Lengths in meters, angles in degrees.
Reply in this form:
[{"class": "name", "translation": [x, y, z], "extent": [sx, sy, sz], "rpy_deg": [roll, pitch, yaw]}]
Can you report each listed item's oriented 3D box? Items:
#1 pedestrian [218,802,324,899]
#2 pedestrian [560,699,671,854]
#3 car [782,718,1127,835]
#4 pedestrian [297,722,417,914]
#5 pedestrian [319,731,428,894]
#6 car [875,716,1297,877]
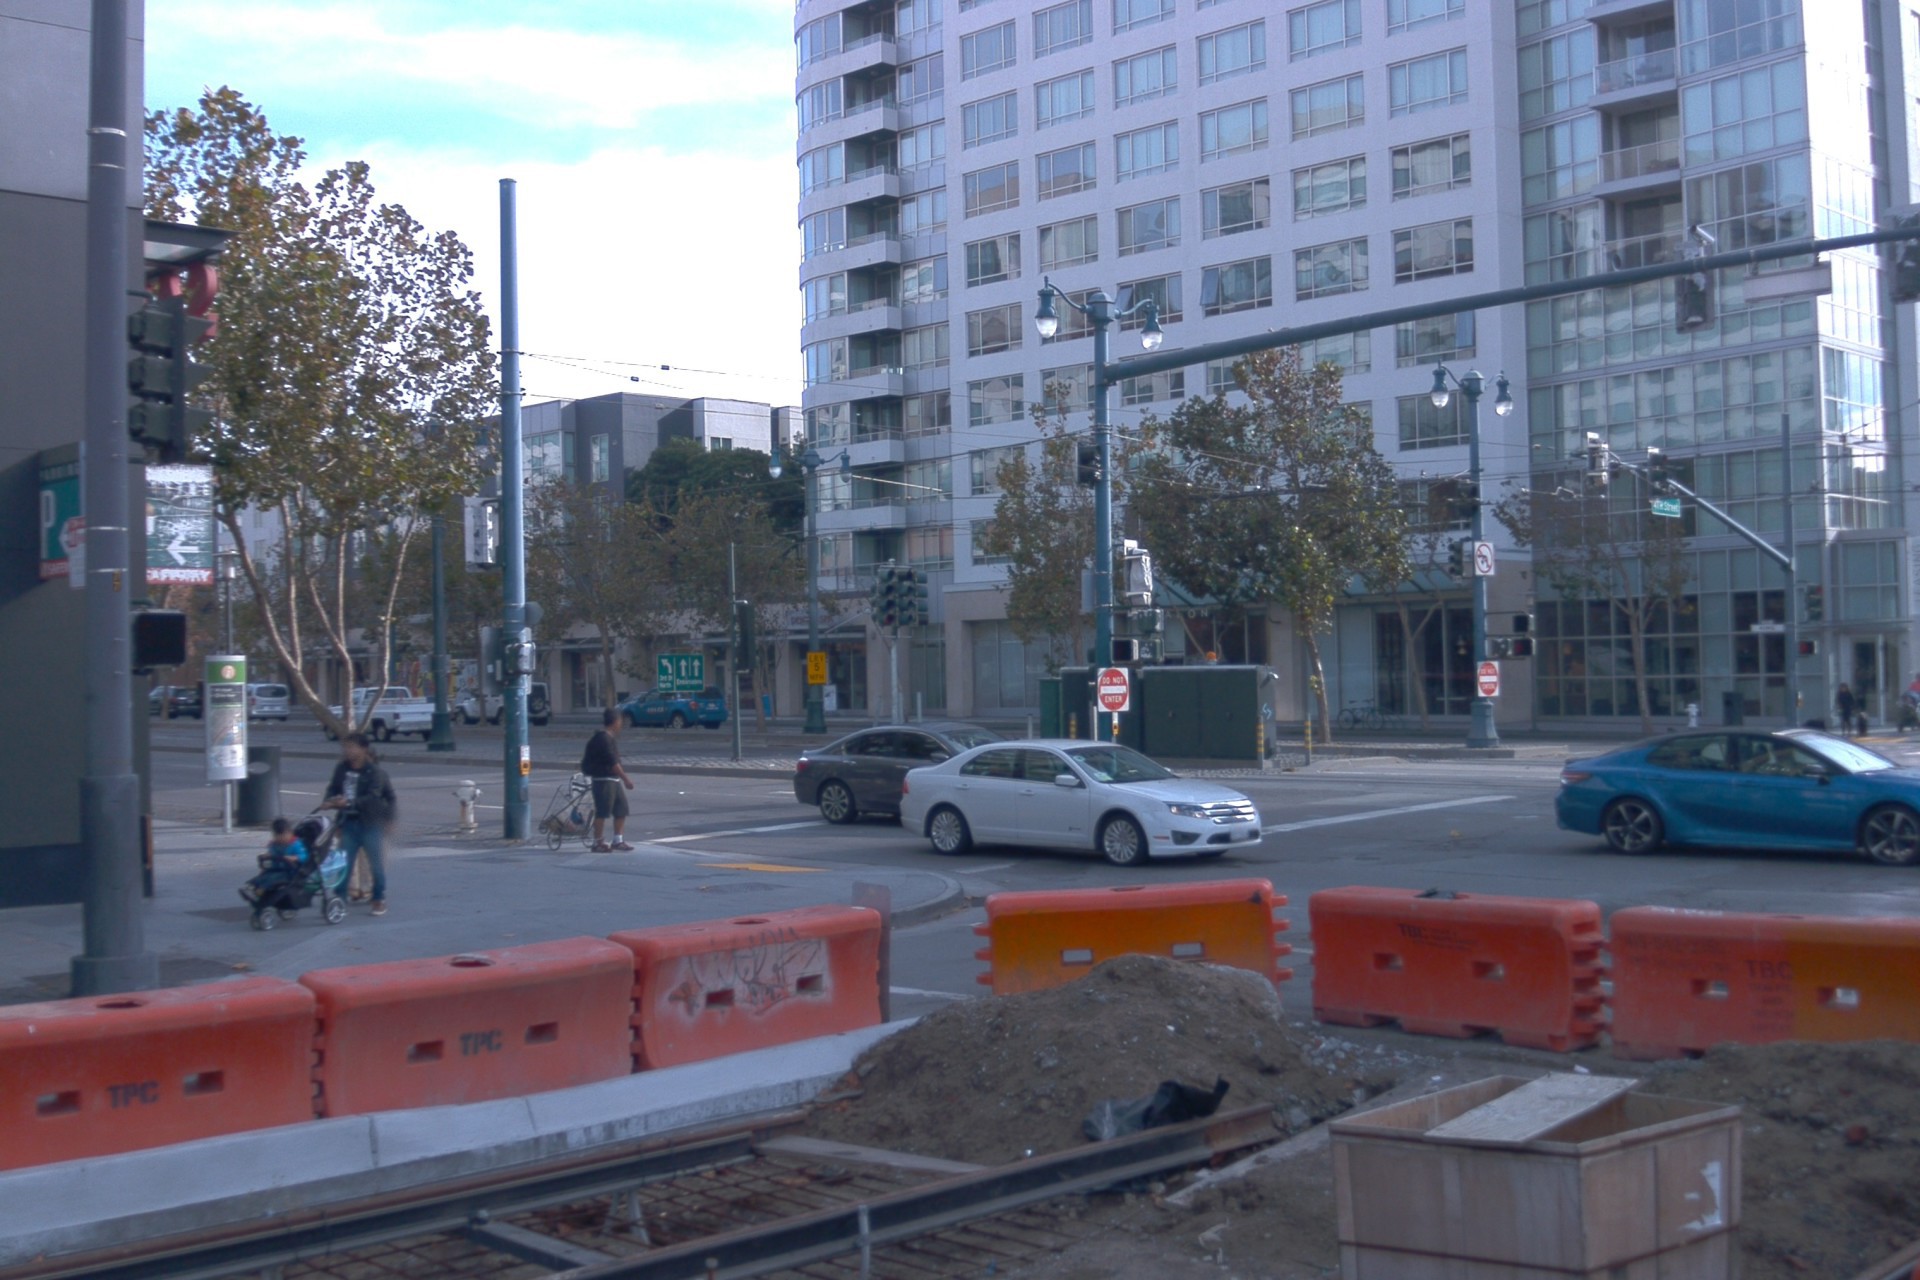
[{"class": "pedestrian", "translation": [-5.936, 1.805, 17.910], "extent": [0.485, 0.752, 0.722], "rpy_deg": [0, -1, 29]}, {"class": "pedestrian", "translation": [-4.235, 1.658, 25.573], "extent": [0.941, 1.830, 0.982], "rpy_deg": [0, -1, 28]}, {"class": "car", "translation": [-0.142, 1.934, 30.380], "extent": [4.851, 1.427, 2.015], "rpy_deg": [0, -1, 39]}, {"class": "pedestrian", "translation": [-5.478, 1.596, 18.892], "extent": [0.747, 1.660, 0.768], "rpy_deg": [0, -1, 15]}, {"class": "pedestrian", "translation": [-5.548, 1.614, 19.655], "extent": [0.664, 1.460, 0.719], "rpy_deg": [0, -1, 35]}, {"class": "car", "translation": [1.445, 1.818, 25.348], "extent": [4.934, 1.610, 2.118], "rpy_deg": [0, -1, 44]}]
